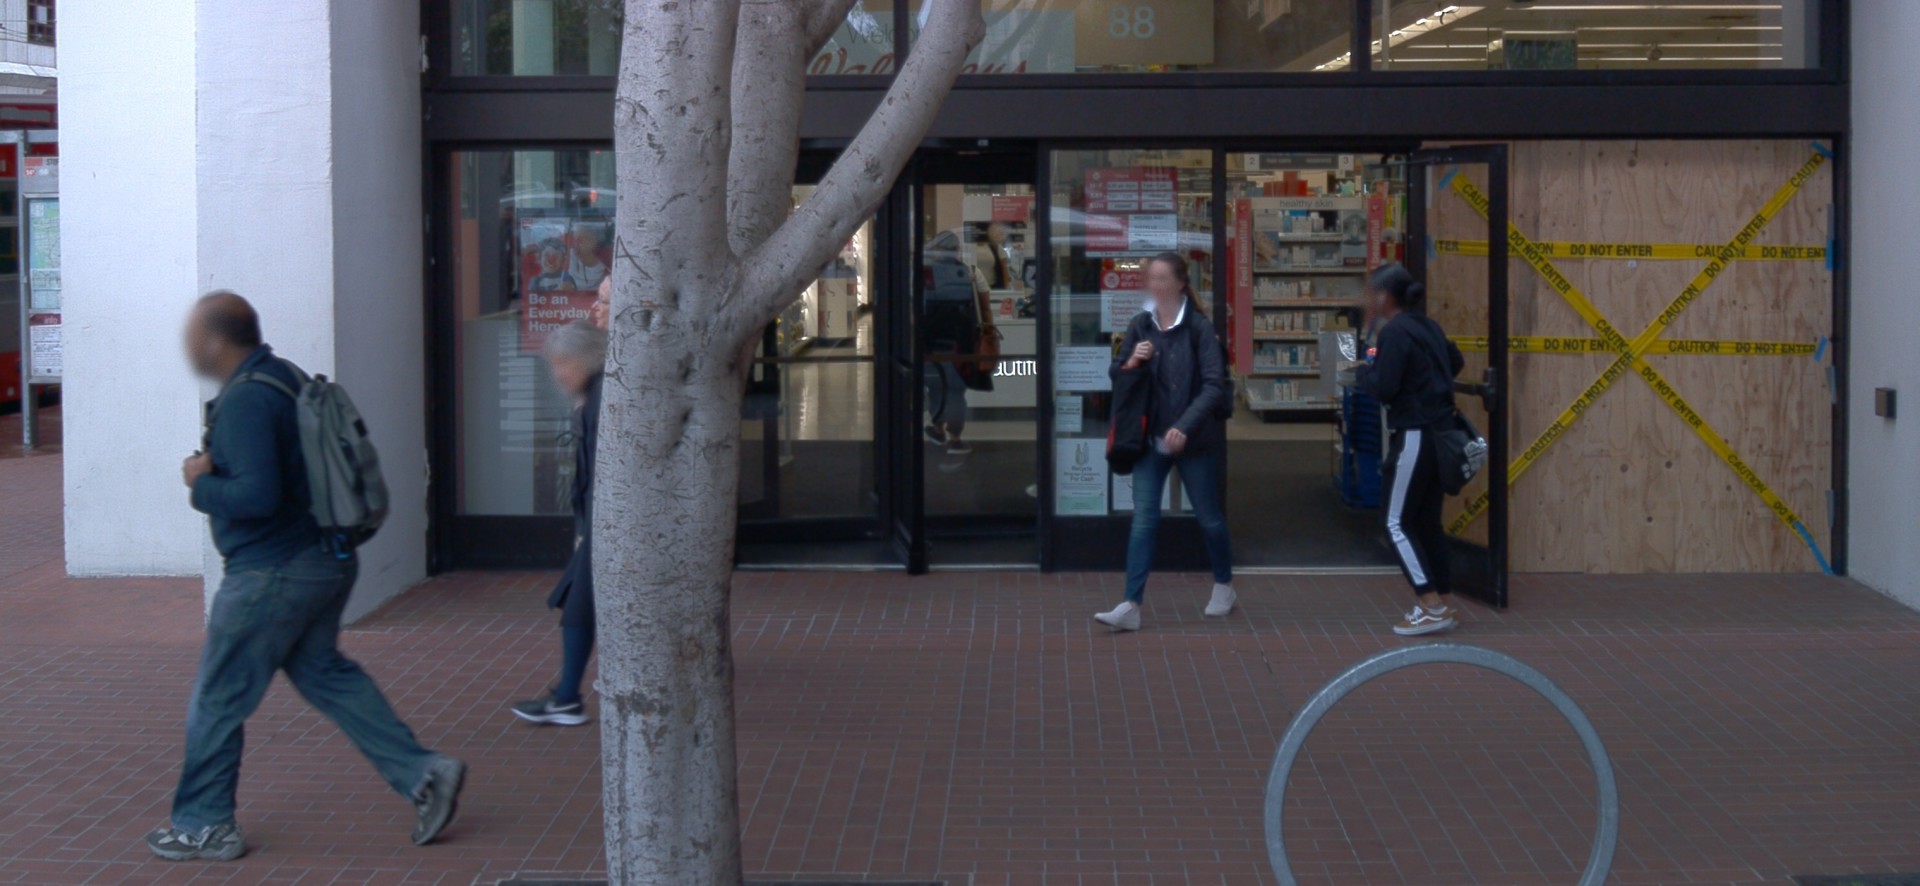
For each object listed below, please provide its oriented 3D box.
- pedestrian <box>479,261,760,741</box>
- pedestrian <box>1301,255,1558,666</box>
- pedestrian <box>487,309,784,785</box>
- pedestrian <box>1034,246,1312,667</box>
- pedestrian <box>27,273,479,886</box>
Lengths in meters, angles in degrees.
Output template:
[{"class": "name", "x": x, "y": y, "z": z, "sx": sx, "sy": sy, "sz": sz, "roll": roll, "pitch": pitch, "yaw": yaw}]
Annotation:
[{"class": "pedestrian", "x": -1.264, "y": 0.175, "z": 7.777, "sx": 0.915, "sy": 1.715, "sz": 0.743, "roll": 0, "pitch": 1, "yaw": 2}, {"class": "pedestrian", "x": 2.022, "y": 0.022, "z": 8.858, "sx": 0.863, "sy": 1.655, "sz": 0.698, "roll": 1, "pitch": 1, "yaw": 38}, {"class": "pedestrian", "x": -1.114, "y": 0.319, "z": 7.233, "sx": 0.893, "sy": 1.555, "sz": 0.782, "roll": 0, "pitch": 1, "yaw": 2}, {"class": "pedestrian", "x": 0.936, "y": -0.002, "z": 9.016, "sx": 0.833, "sy": 1.715, "sz": 0.902, "roll": 1, "pitch": 2, "yaw": 44}, {"class": "pedestrian", "x": -2.010, "y": 0.403, "z": 5.967, "sx": 1.004, "sy": 1.775, "sz": 0.835, "roll": 0, "pitch": 1, "yaw": 2}]
